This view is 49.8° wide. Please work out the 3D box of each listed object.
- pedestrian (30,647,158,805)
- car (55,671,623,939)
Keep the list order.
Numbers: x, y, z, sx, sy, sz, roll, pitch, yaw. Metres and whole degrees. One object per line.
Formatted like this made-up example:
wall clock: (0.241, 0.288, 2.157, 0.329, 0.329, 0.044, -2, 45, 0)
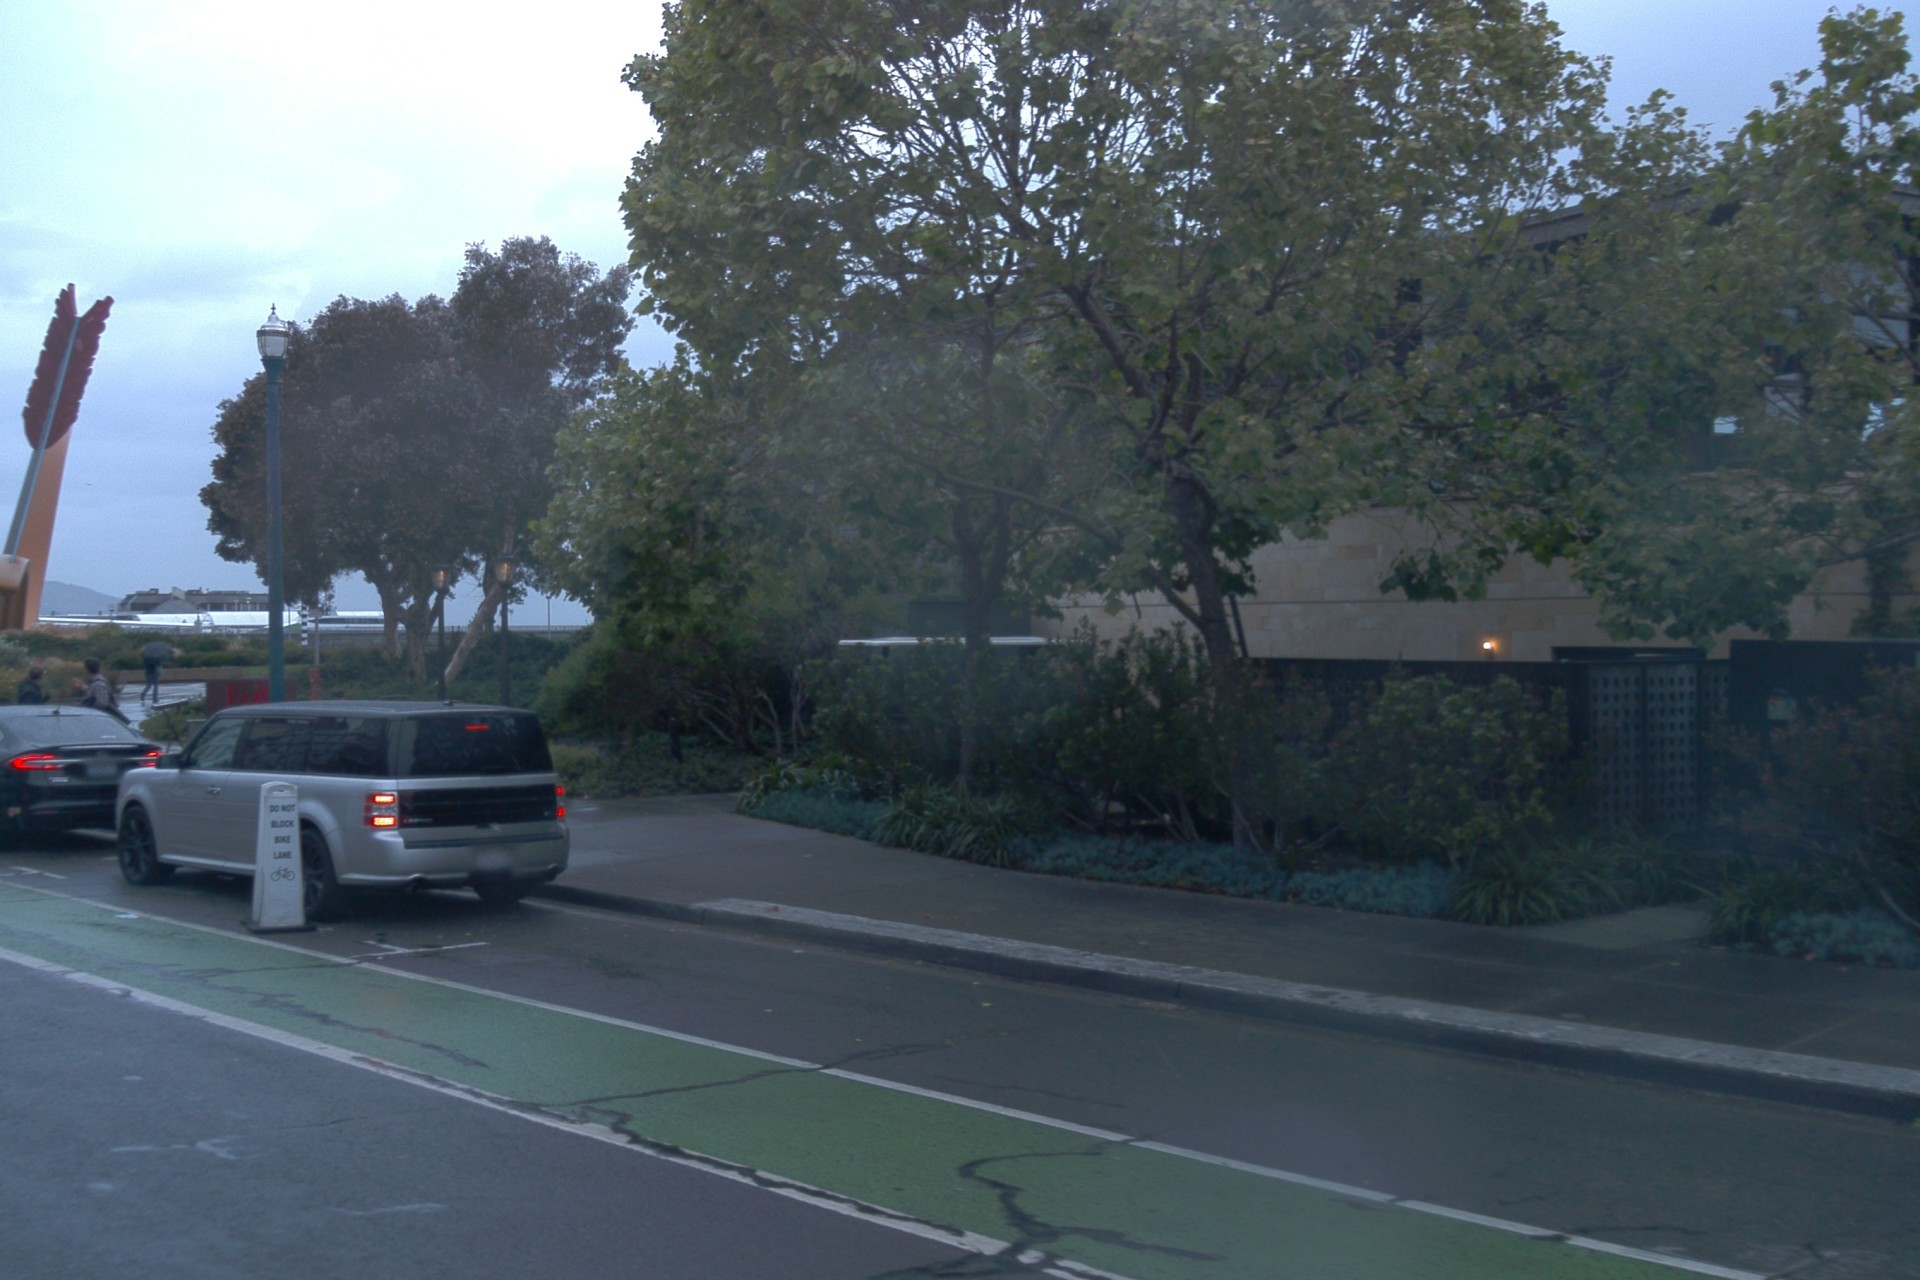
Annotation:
pedestrian: (-11.527, 1.118, 27.572, 1.062, 2.050, 1.156, 0, -1, 19)
car: (-5.448, 1.236, 17.702, 5.327, 1.890, 2.314, 0, -1, 44)
